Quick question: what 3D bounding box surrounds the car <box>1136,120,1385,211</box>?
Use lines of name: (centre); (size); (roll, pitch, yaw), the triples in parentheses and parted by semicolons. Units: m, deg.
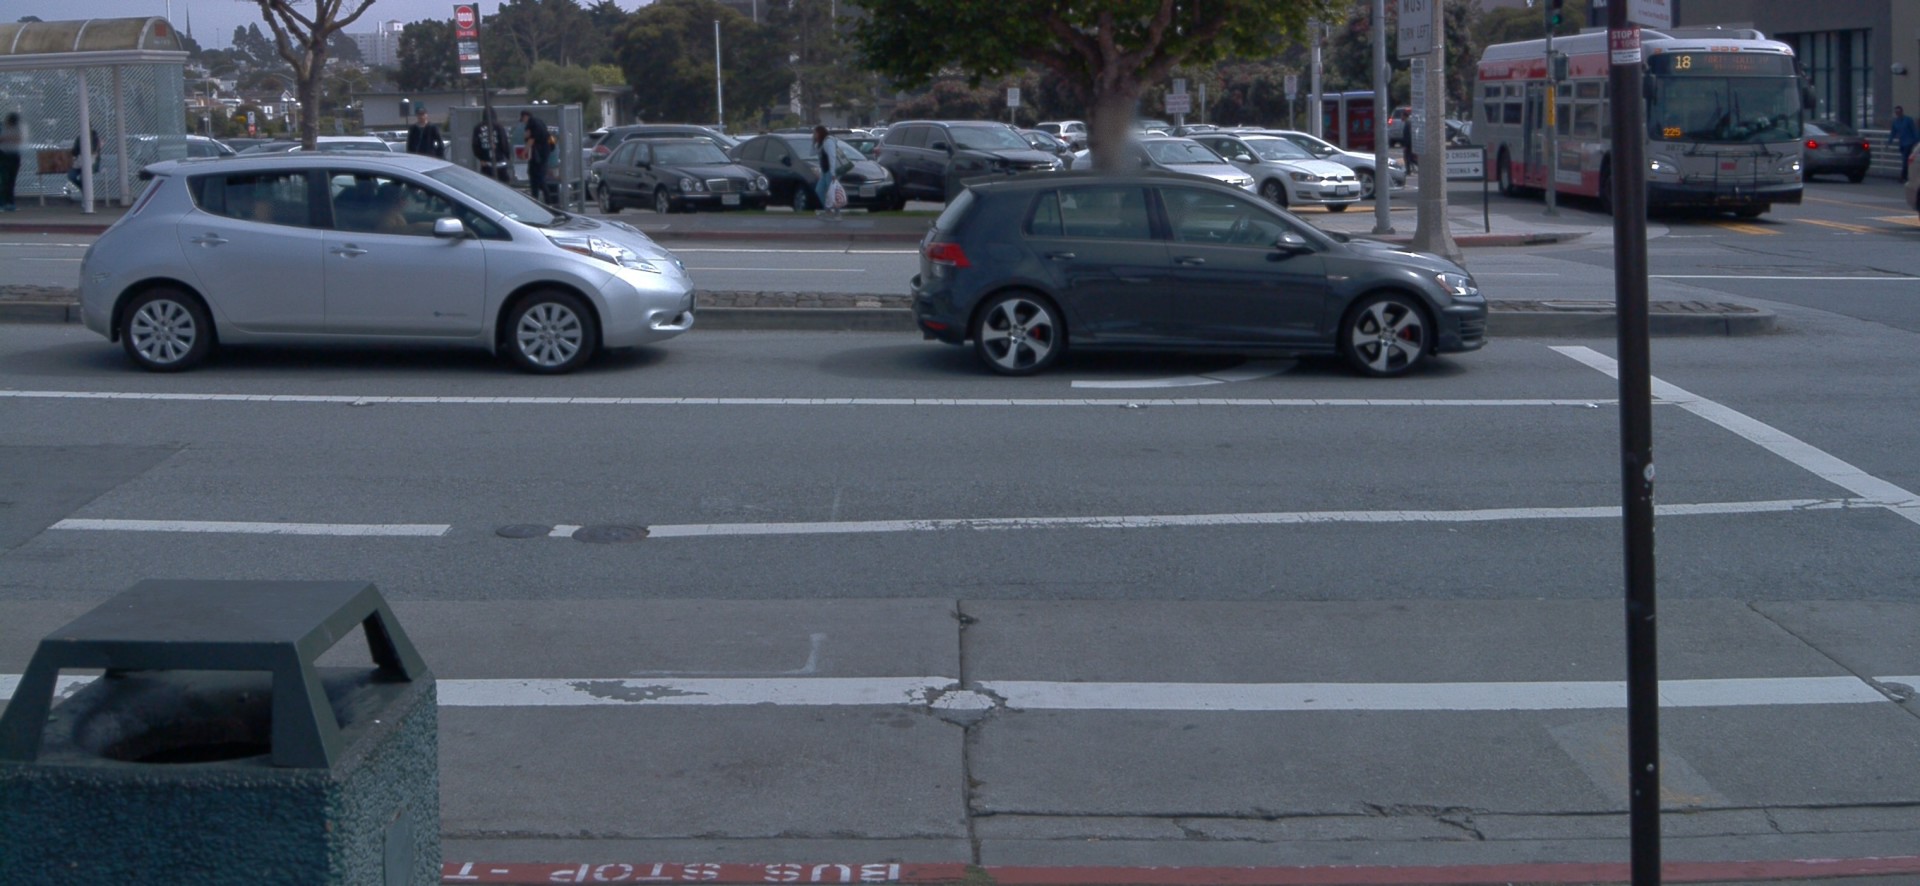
car: (5.510, -5.109, 38.429); (2.025, 1.562, 4.546); (-4, 7, -35)

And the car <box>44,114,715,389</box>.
car: (-4.143, -1.450, 15.382); (4.414, 1.864, 2.083); (-1, 4, -1)

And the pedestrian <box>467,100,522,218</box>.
pedestrian: (-7.208, -4.388, 31.986); (0.786, 1.796, 0.722); (-1, 2, -15)

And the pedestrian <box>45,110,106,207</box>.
pedestrian: (-14.017, -4.496, 32.754); (0.667, 1.507, 0.641); (-1, 2, 1)

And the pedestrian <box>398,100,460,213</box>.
pedestrian: (-8.417, -4.537, 32.765); (0.758, 1.756, 0.652); (0, 2, 6)

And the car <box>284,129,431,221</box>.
car: (-10.848, -4.758, 37.021); (2.097, 1.532, 4.510); (-2, 6, -21)

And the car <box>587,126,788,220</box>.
car: (-4.858, -4.715, 36.356); (2.066, 1.532, 4.478); (-3, 6, -28)

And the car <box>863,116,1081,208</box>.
car: (0.139, -5.028, 37.329); (1.971, 1.532, 4.713); (-3, 6, -27)

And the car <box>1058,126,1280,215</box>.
car: (3.617, -4.782, 36.582); (2.041, 1.472, 4.423); (-3, 6, -23)

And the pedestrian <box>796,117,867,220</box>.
pedestrian: (-1.993, -4.237, 31.975); (0.863, 1.557, 0.829); (-2, 3, -22)

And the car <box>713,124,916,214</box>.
car: (-2.743, -4.965, 37.826); (1.997, 1.532, 4.758); (-3, 6, -27)

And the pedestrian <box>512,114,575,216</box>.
pedestrian: (-6.530, -4.353, 32.416); (0.667, 1.567, 0.737); (-2, 3, -43)

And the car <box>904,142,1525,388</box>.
car: (1.760, -1.355, 15.390); (4.336, 1.664, 1.933); (-1, 4, -1)
